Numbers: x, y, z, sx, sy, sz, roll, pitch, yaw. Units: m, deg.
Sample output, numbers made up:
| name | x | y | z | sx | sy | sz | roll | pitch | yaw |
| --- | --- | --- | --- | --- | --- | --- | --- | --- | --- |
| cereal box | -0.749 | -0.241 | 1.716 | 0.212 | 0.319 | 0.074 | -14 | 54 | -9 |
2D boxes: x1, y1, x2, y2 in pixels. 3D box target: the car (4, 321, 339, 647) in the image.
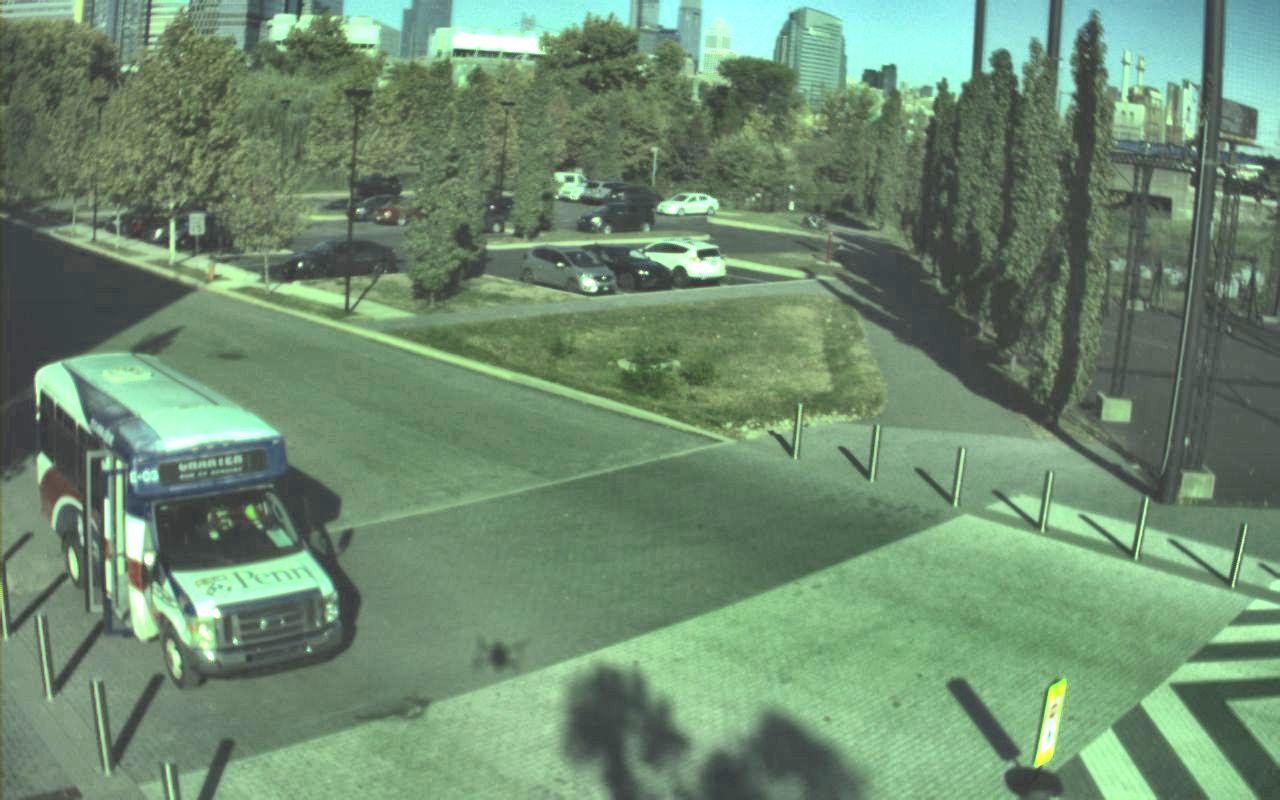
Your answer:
| name | x | y | z | sx | sy | sz | roll | pitch | yaw |
| --- | --- | --- | --- | --- | --- | --- | --- | --- | --- |
| car | -6.608 | 0.805 | 15.666 | 2.475 | 2.306 | 6.216 | -15 | 21 | -39 |

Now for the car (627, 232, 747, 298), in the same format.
| name | x | y | z | sx | sy | sz | roll | pitch | yaw |
| --- | --- | --- | --- | --- | --- | --- | --- | --- | --- |
| car | 1.786 | -5.234 | 48.439 | 1.983 | 1.695 | 4.520 | -16 | 22 | -41 |
